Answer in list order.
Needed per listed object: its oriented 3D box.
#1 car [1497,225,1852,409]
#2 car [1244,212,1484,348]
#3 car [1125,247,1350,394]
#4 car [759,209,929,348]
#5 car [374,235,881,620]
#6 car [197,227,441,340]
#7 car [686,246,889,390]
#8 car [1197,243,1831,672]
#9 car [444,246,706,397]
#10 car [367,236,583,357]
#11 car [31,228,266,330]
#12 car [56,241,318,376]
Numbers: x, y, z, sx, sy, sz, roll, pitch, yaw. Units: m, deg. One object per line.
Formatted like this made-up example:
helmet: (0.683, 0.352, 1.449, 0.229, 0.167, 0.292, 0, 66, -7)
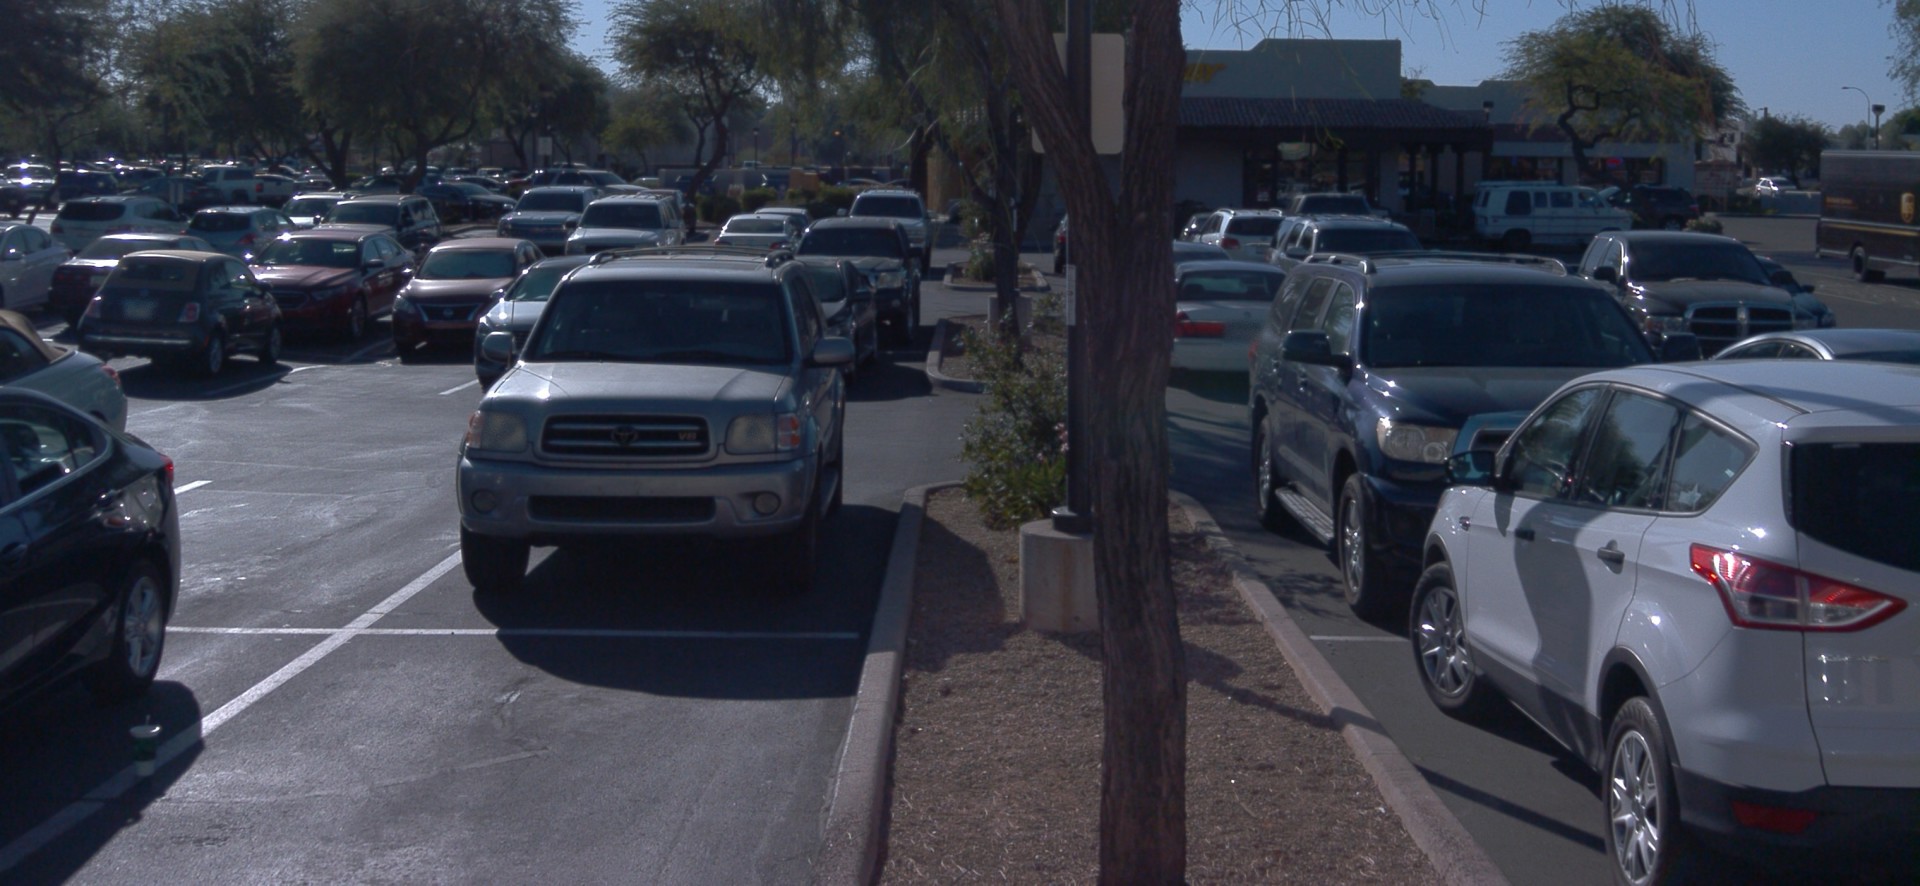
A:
car: (8.788, -1.717, 26.224, 2.523, 2.021, 5.784, 1, 6, 0)
car: (6.087, -2.588, 32.031, 2.482, 1.891, 5.237, 0, 5, -3)
car: (3.330, -1.620, 25.927, 2.256, 1.562, 5.128, 1, 6, 2)
car: (-1.667, -2.581, 31.616, 2.086, 1.901, 5.342, 1, 5, 2)
car: (-1.831, -0.338, 13.399, 2.382, 1.941, 5.207, 1, 5, 0)
car: (-9.662, -2.503, 31.733, 2.086, 1.562, 4.913, 1, 6, 2)
car: (-2.024, -1.627, 25.663, 2.083, 1.543, 4.565, 1, 6, 0)
car: (3.052, -0.170, 12.878, 2.497, 2.061, 5.137, 1, 5, -1)
car: (-4.606, -1.591, 25.659, 2.180, 1.602, 4.850, 1, 6, 2)
car: (-7.054, -2.229, 30.648, 2.010, 1.593, 4.474, 1, 5, 2)
car: (-12.387, -2.579, 31.978, 1.905, 1.433, 4.261, 1, 6, 1)
car: (-9.689, -1.768, 26.313, 1.730, 1.533, 3.845, 1, 5, 3)
